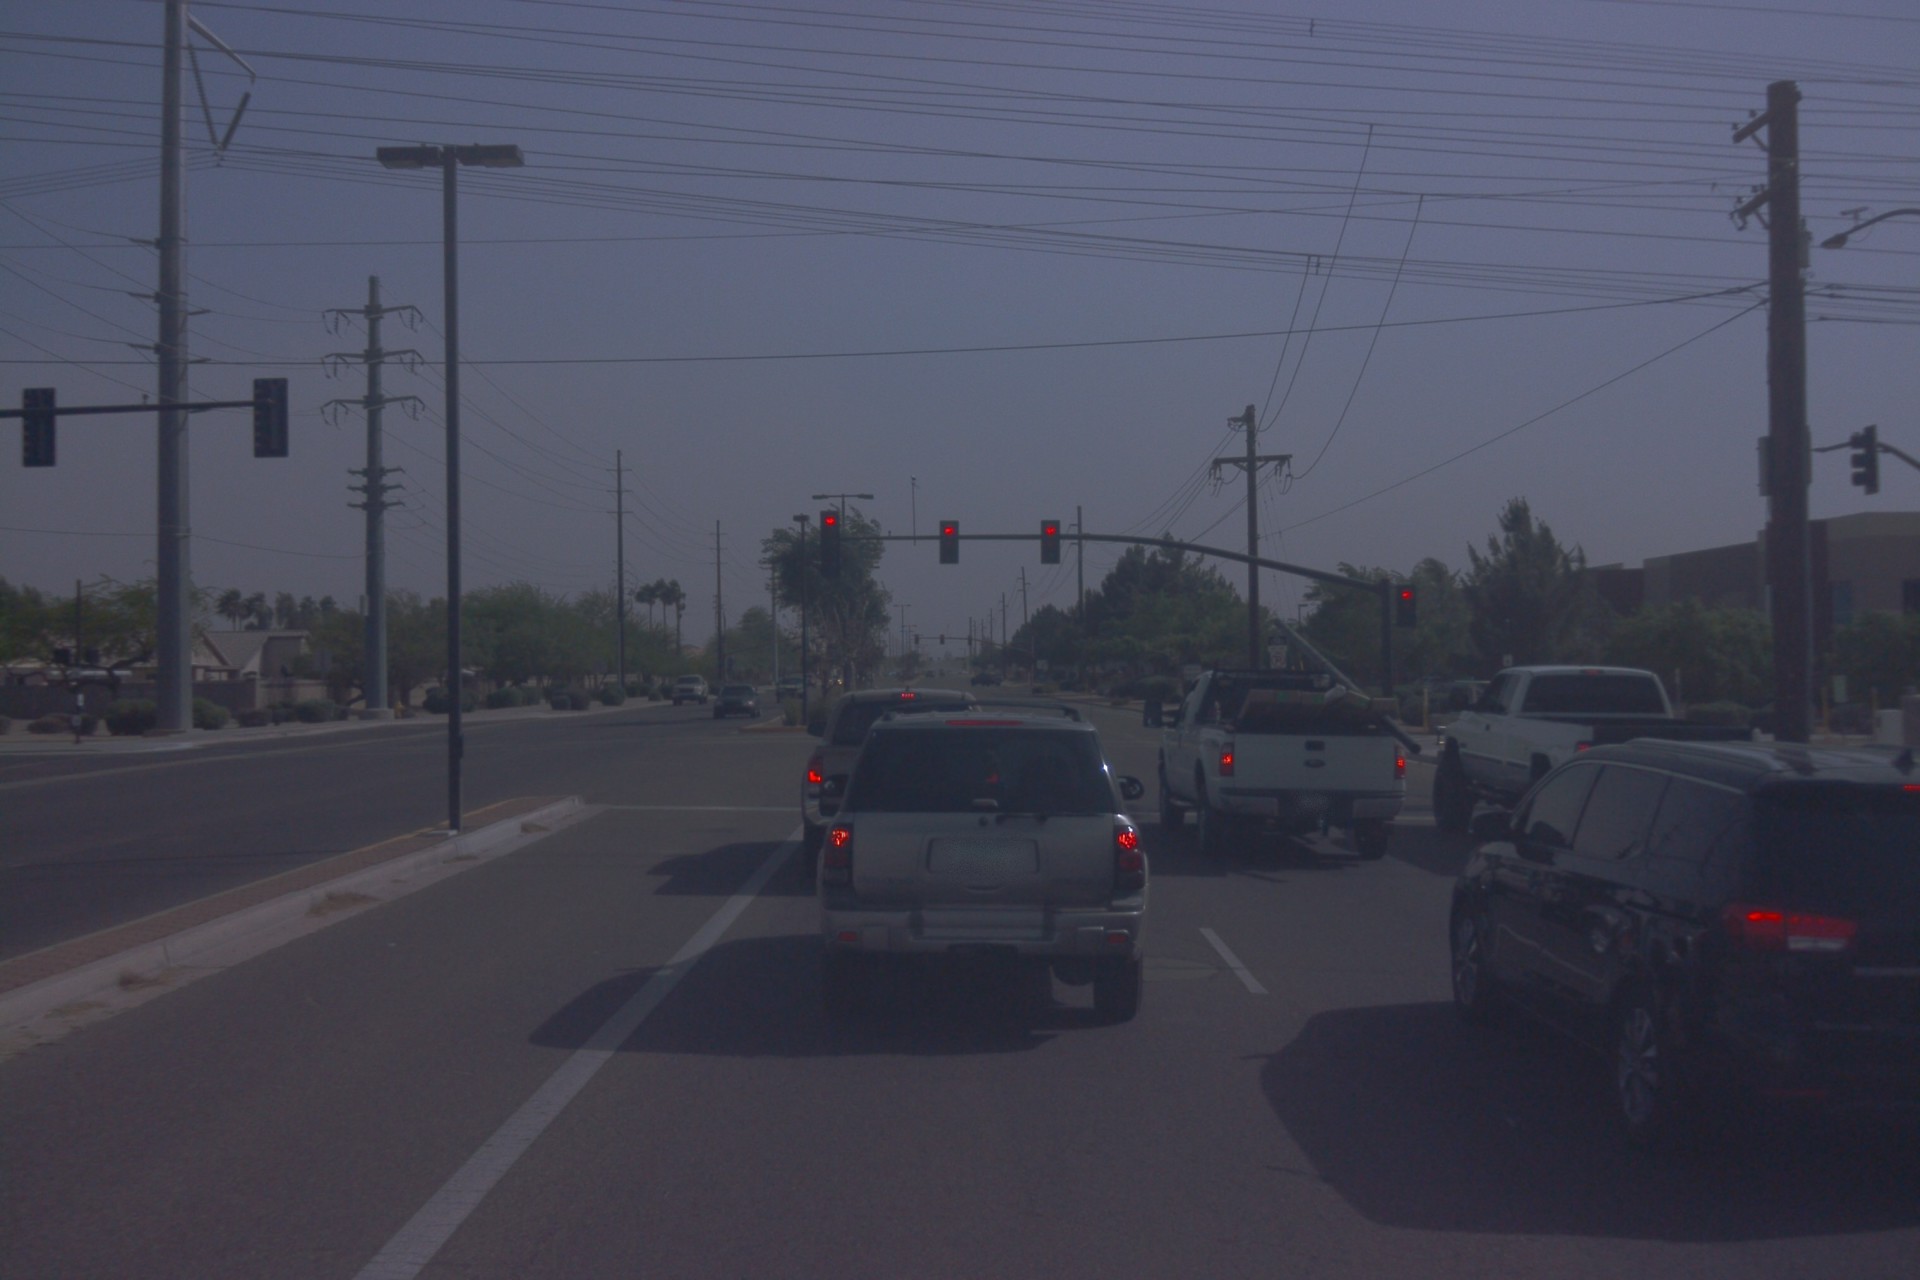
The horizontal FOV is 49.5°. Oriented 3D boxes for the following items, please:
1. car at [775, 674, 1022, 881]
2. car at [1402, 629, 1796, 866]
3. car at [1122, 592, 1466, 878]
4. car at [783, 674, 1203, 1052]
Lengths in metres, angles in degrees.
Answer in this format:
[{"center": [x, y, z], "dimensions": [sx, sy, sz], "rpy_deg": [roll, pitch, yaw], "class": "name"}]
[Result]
[{"center": [-0.536, 1.246, 20.414], "dimensions": [2.149, 1.780, 4.304], "rpy_deg": [0, -1, 0], "class": "car"}, {"center": [7.081, 1.116, 24.042], "dimensions": [2.415, 2.350, 6.497], "rpy_deg": [0, -1, -1], "class": "car"}, {"center": [3.464, 0.951, 23.300], "dimensions": [2.664, 2.710, 6.759], "rpy_deg": [0, -1, -1], "class": "car"}, {"center": [0.157, 1.215, 13.314], "dimensions": [2.201, 1.960, 4.684], "rpy_deg": [0, -1, 0], "class": "car"}]
